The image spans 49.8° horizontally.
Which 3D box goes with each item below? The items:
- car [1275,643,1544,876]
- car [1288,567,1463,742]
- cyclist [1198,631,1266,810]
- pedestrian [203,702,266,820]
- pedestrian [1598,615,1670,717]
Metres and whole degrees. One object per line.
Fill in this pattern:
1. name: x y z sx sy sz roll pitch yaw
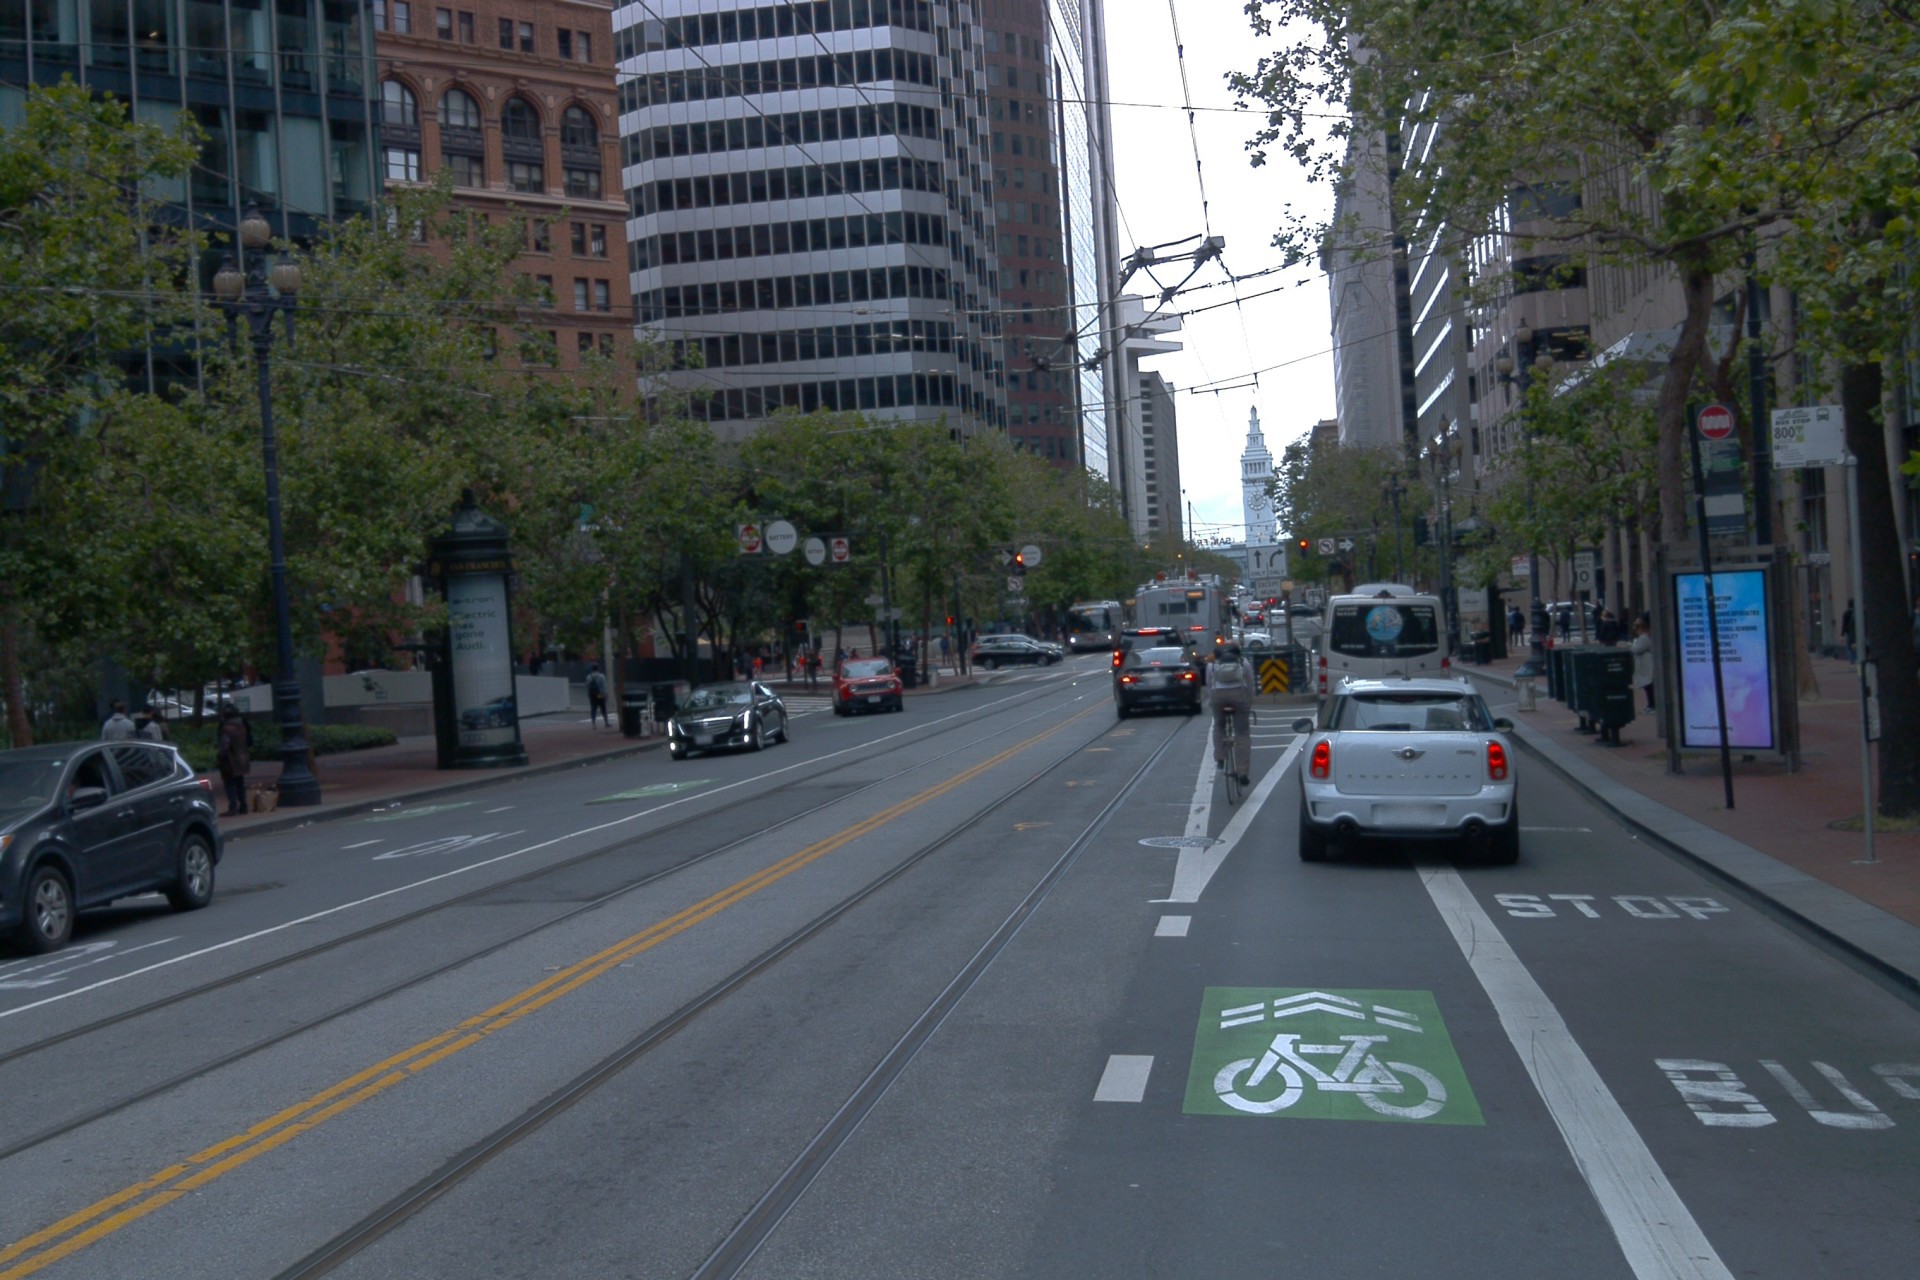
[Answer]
1. car: 3.937 0.948 18.319 2.076 1.784 3.876 0 1 11
2. car: 6.764 0.186 33.369 2.537 2.590 5.346 0 1 13
3. cyclist: 3.025 0.858 22.857 0.638 1.900 1.438 0 1 11
4. pedestrian: -11.208 1.864 31.951 0.641 1.760 0.791 0 1 3
5. pedestrian: 11.525 0.435 35.348 0.915 1.700 0.906 0 1 -1
